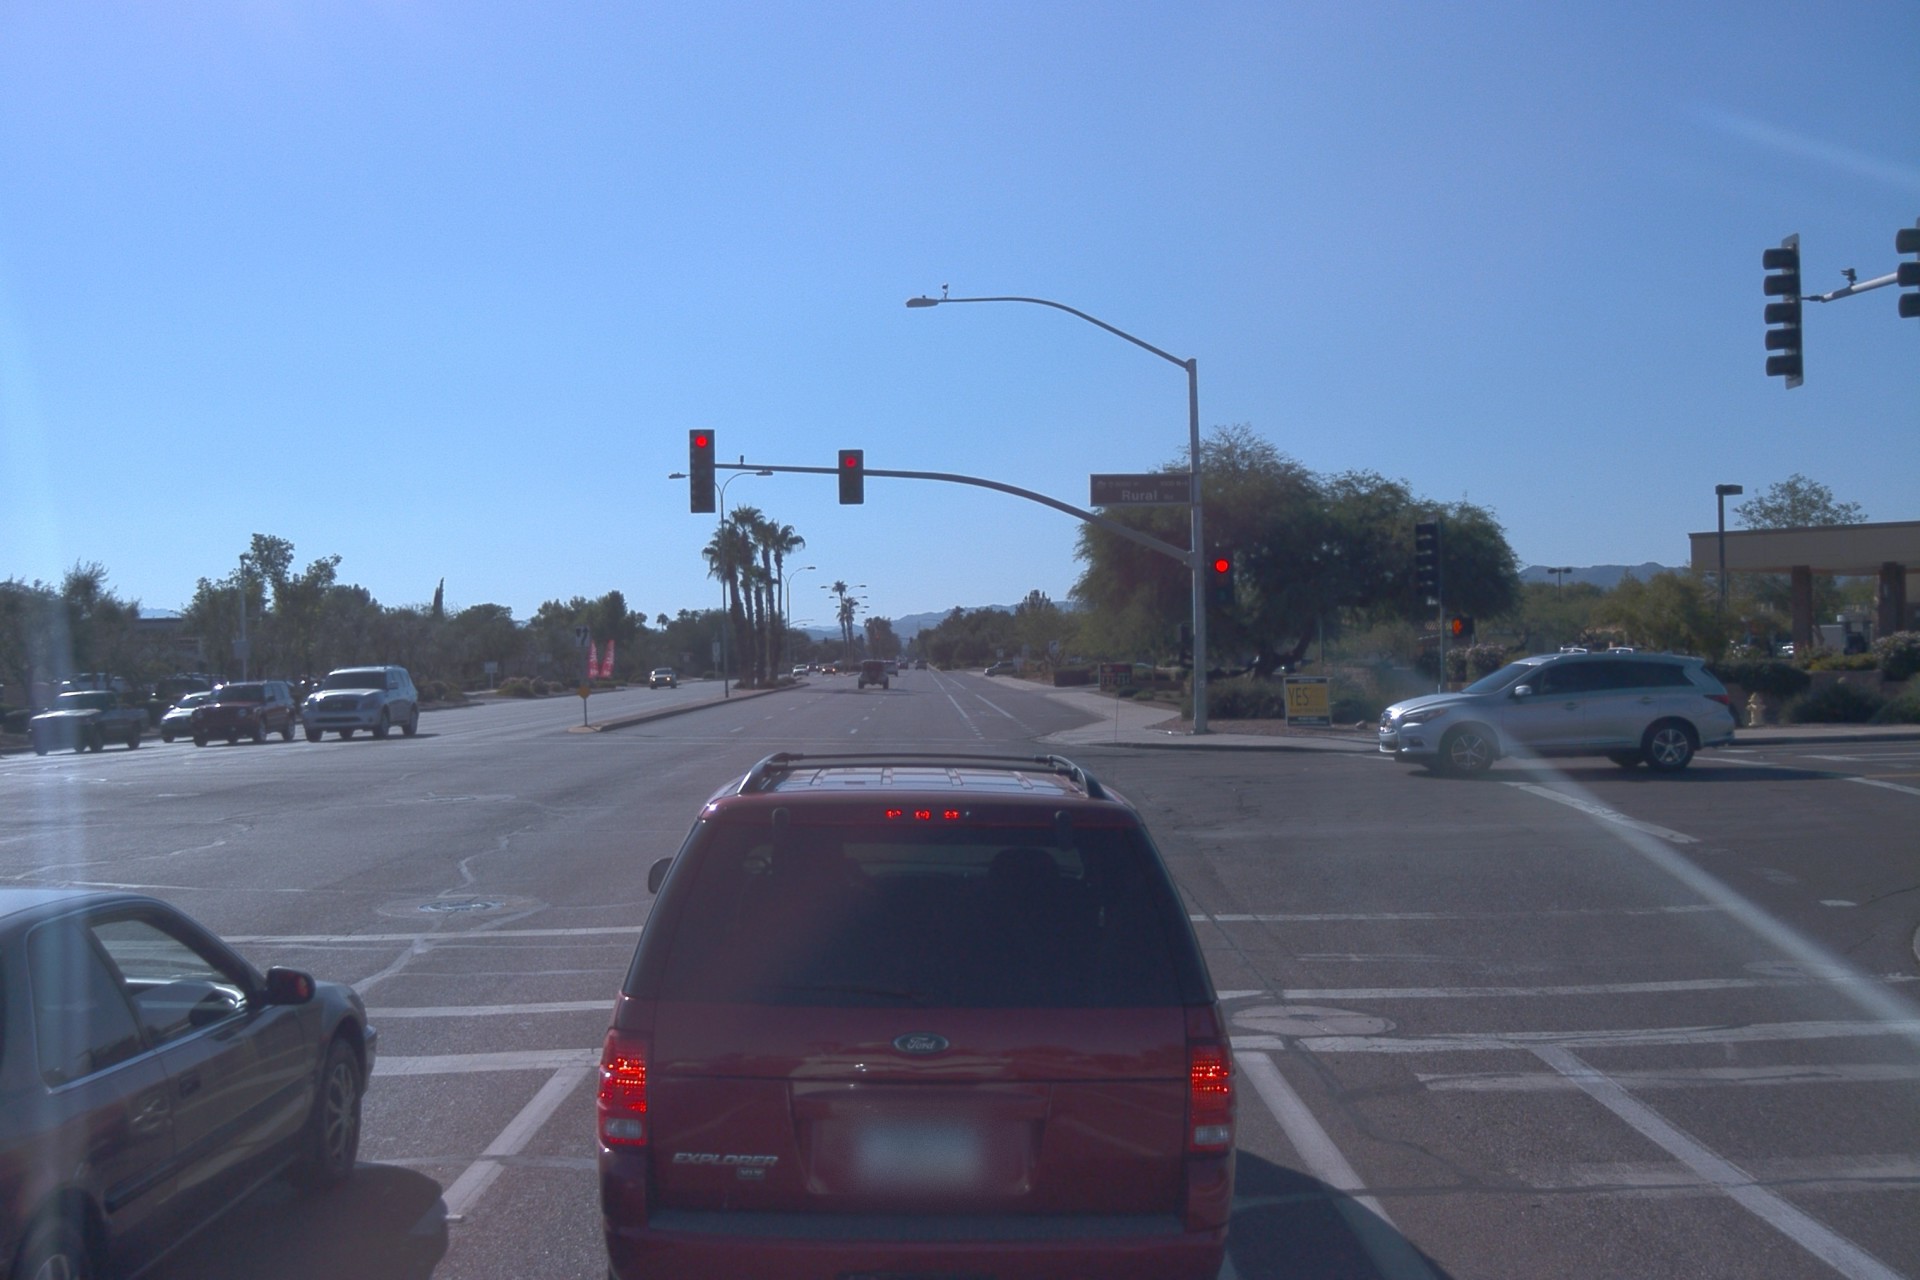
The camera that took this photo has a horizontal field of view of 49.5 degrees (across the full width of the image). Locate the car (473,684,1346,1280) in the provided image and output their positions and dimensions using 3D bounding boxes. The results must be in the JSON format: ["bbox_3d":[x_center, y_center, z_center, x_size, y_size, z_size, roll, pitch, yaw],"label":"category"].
[{"bbox_3d":[-0.180,1.202,7.461,2.169,2.040,4.462,1,-1,-2],"label":"car"}]

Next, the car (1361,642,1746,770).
[{"bbox_3d":[8.648,0.957,30.675,5.049,1.780,2.079,1,-1,-1],"label":"car"}]
